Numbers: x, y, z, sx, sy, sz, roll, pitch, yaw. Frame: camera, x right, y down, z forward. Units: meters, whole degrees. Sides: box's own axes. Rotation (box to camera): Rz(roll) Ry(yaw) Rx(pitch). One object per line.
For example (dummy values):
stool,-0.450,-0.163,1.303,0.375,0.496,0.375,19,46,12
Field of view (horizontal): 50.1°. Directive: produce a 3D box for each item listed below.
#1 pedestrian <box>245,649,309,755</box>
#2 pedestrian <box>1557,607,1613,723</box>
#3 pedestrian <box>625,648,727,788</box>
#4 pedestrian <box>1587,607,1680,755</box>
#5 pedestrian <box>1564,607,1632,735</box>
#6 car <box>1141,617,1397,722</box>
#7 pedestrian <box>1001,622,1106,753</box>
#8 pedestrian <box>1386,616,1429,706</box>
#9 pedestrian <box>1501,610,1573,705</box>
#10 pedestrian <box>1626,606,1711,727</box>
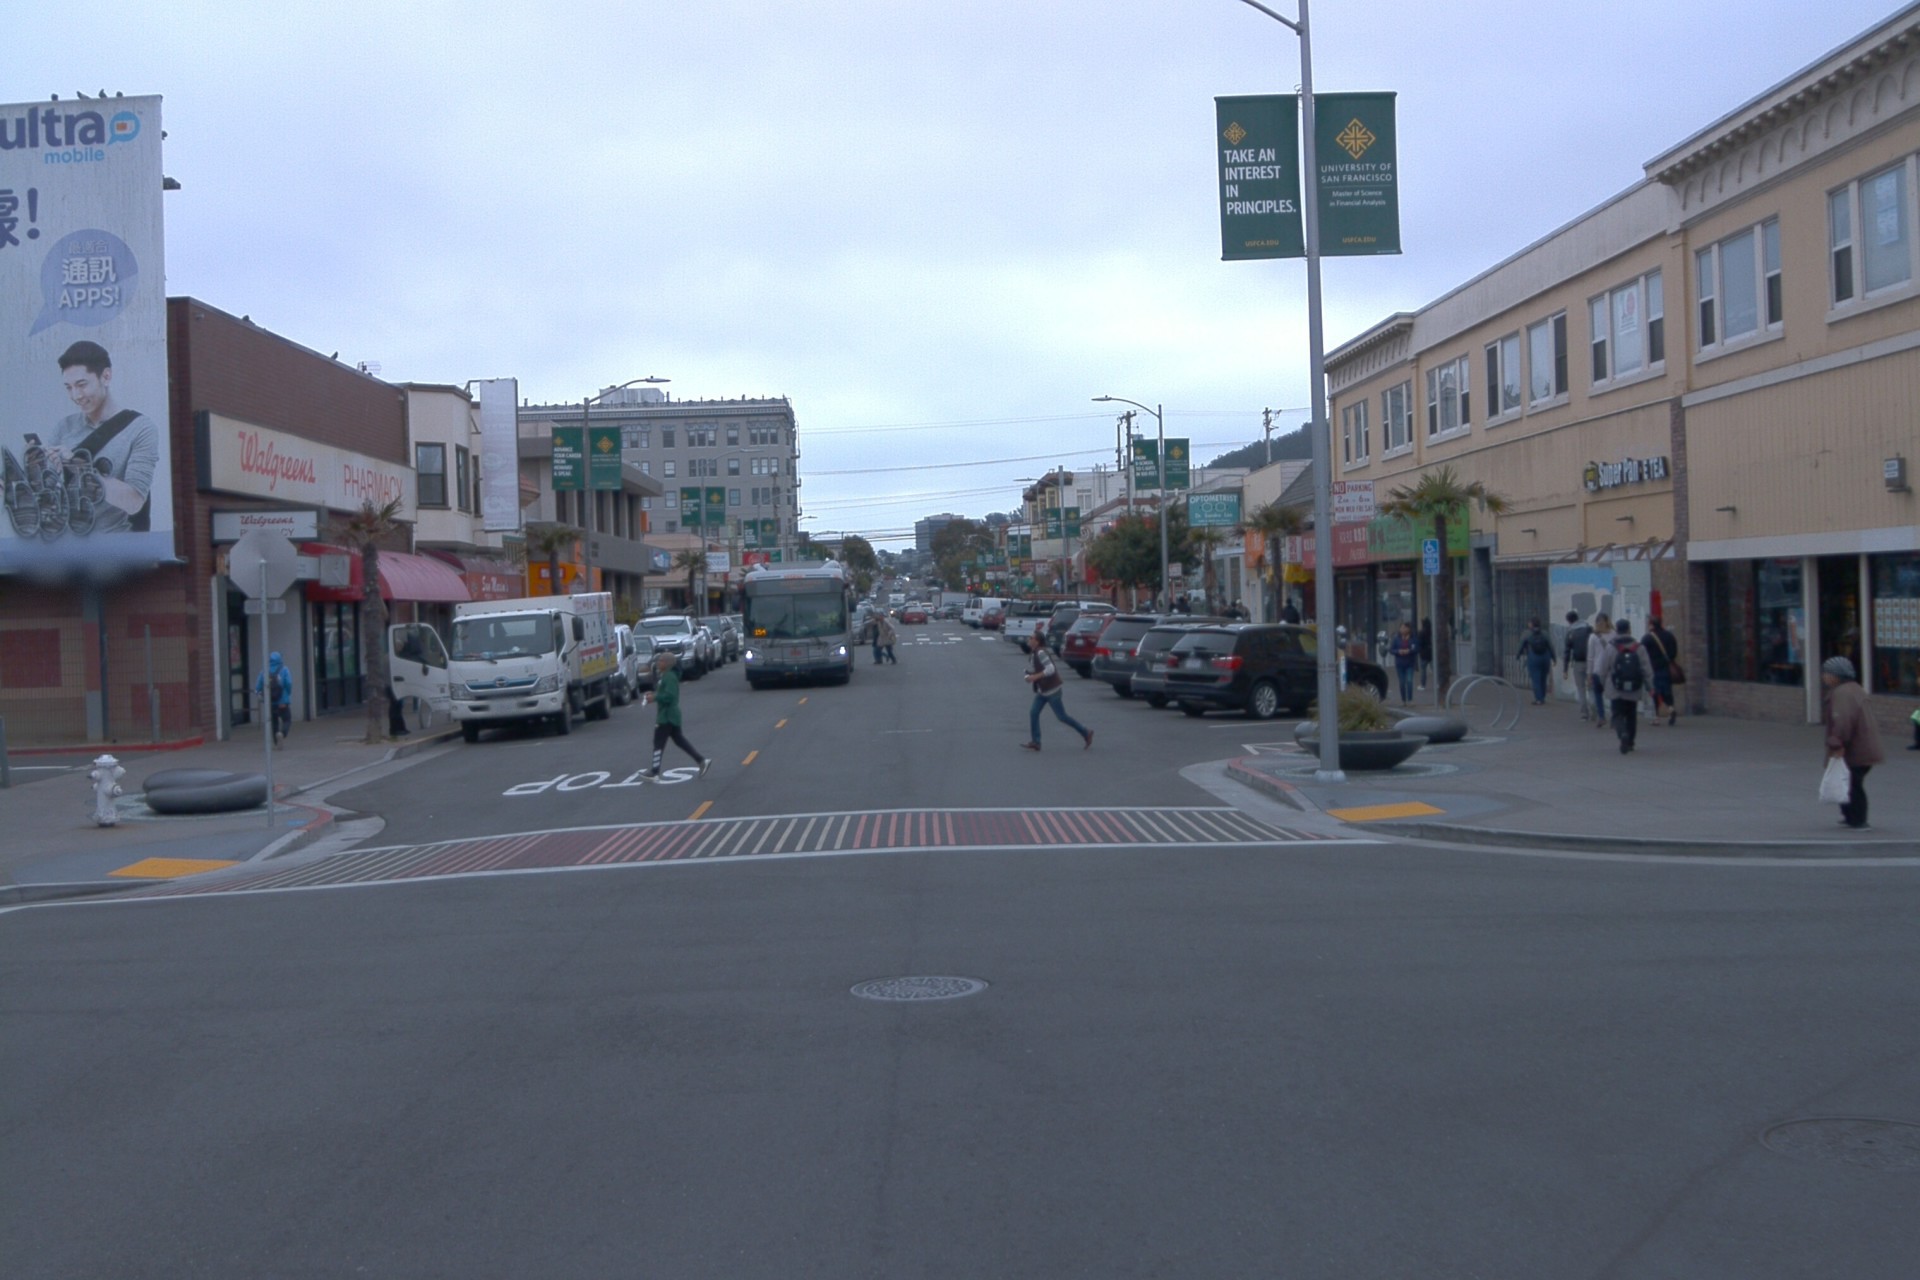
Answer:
pedestrian,-11.333,1.018,34.140,0.819,1.710,0.783,0,1,-3
pedestrian,9.596,0.370,31.578,0.689,1.751,0.813,0,1,6
pedestrian,-3.581,0.973,25.995,1.104,1.713,0.766,0,1,8
pedestrian,8.233,0.485,25.172,0.925,1.770,0.948,0,1,9
pedestrian,9.223,0.433,29.748,0.711,1.824,0.916,0,1,2
car,5.585,0.470,36.915,4.510,1.740,2.044,-1,1,-39
pedestrian,1.325,0.662,29.395,1.259,1.820,0.886,-1,1,-17
pedestrian,8.052,0.363,37.035,0.749,1.598,0.776,0,1,12
pedestrian,10.148,0.298,36.180,1.000,1.650,1.000,0,1,2
pedestrian,10.264,0.373,29.817,0.952,1.742,0.808,0,1,2
